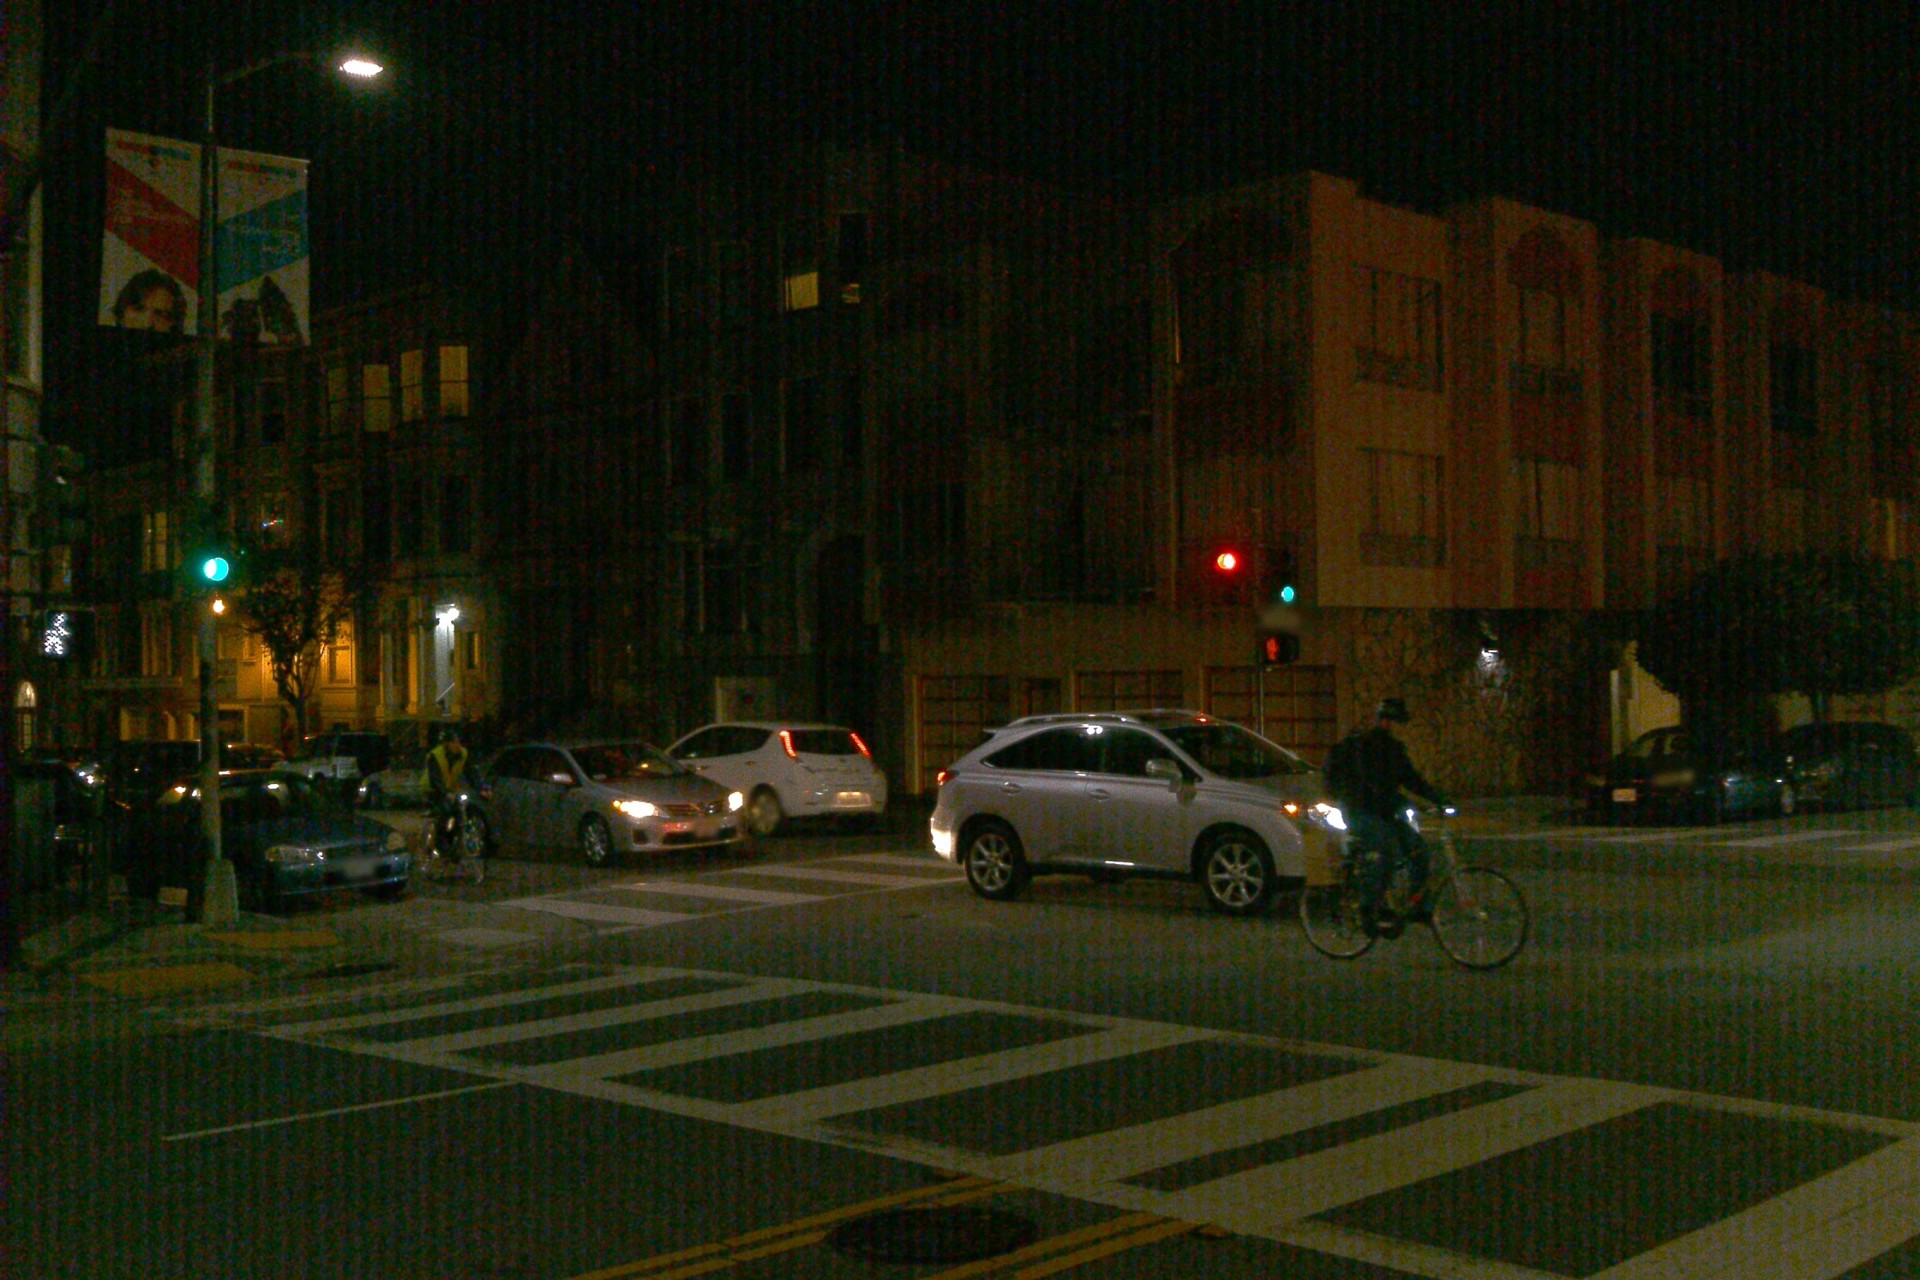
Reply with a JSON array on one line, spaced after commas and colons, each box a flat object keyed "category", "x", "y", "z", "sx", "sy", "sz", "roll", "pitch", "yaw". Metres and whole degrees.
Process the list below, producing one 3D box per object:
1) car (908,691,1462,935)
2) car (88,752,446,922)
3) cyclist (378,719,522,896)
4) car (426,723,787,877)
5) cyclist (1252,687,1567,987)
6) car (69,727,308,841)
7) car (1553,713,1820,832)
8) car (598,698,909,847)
[{"category": "car", "x": 1.934, "y": 1.435, "z": 18.764, "sx": 4.614, "sy": 1.760, "sz": 2.139, "roll": 1, "pitch": 0, "yaw": 43}, {"category": "car", "x": -7.499, "y": 2.022, "z": 22.146, "sx": 1.946, "sy": 1.350, "sz": 4.278, "roll": 1, "pitch": 0, "yaw": -44}, {"category": "cyclist", "x": -5.559, "y": 1.783, "z": 22.472, "sx": 0.771, "sy": 1.750, "sz": 1.769, "roll": 1, "pitch": 0, "yaw": -41}, {"category": "car", "x": -4.356, "y": 1.853, "z": 24.997, "sx": 2.125, "sy": 1.450, "sz": 4.459, "roll": 1, "pitch": 0, "yaw": -44}, {"category": "cyclist", "x": 3.084, "y": 1.291, "z": 14.277, "sx": 1.926, "sy": 1.870, "sz": 0.832, "roll": 1, "pitch": 0, "yaw": 41}, {"category": "car", "x": -12.574, "y": 2.271, "z": 33.519, "sx": 2.021, "sy": 1.480, "sz": 4.494, "roll": 1, "pitch": 0, "yaw": -43}, {"category": "car", "x": 10.603, "y": 1.856, "z": 29.962, "sx": 1.967, "sy": 1.430, "sz": 4.633, "roll": 1, "pitch": 0, "yaw": 42}, {"category": "car", "x": -2.933, "y": 1.760, "z": 28.671, "sx": 1.960, "sy": 1.720, "sz": 4.390, "roll": 1, "pitch": 0, "yaw": -44}]
